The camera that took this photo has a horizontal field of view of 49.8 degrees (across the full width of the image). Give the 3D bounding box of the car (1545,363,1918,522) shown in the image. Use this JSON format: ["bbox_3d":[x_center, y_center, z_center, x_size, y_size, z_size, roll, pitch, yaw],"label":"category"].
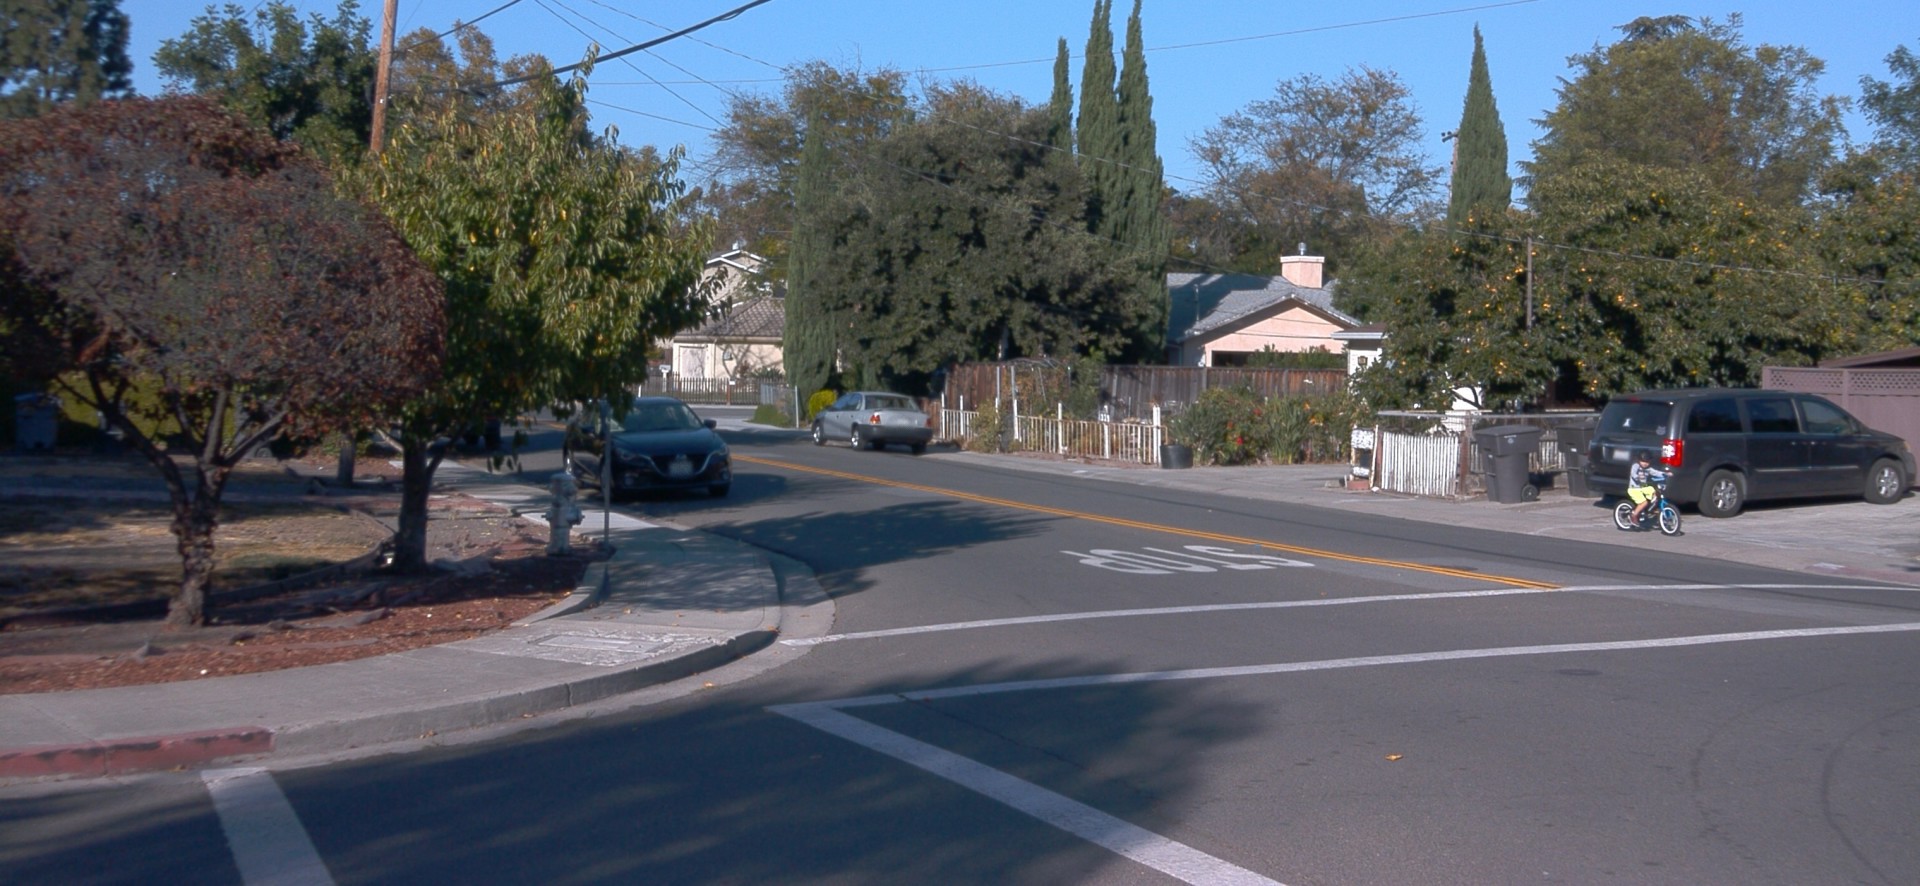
[{"bbox_3d":[11.172,-0.085,29.959,4.984,1.925,2.151,-2,4,-24],"label":"car"}]

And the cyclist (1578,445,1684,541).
[{"bbox_3d":[8.606,0.624,26.558,0.648,1.058,1.208,0,4,-25],"label":"cyclist"}]

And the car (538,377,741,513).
[{"bbox_3d":[-4.981,-0.051,31.566,2.033,1.554,4.623,-1,5,-22],"label":"car"}]
